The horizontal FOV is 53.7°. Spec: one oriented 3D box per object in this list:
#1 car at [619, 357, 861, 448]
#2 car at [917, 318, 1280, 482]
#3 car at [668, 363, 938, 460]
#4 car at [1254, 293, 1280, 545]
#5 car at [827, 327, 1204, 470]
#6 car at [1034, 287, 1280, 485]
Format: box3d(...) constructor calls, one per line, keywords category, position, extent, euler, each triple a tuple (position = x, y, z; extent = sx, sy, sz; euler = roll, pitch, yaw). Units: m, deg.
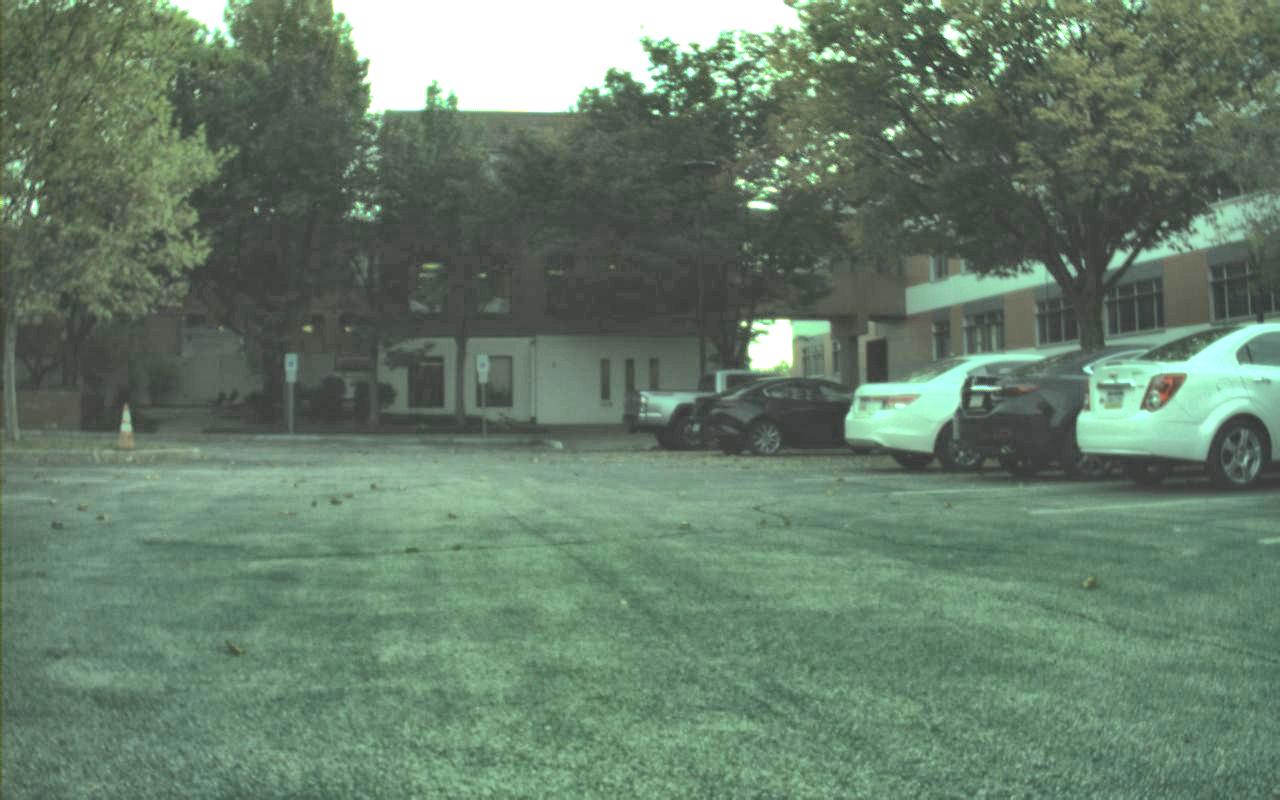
box3d(category="car", position=(2.197, 0.032, 28.079), extent=(5.015, 1.917, 2.096), euler=(0, 1, -13))
box3d(category="car", position=(5.429, -0.009, 13.165), extent=(4.454, 1.581, 1.926), euler=(0, 1, -10))
box3d(category="car", position=(3.004, 0.171, 23.126), extent=(4.608, 1.653, 1.986), euler=(0, 1, -16))
box3d(category="car", position=(7.048, 0.143, 8.111), extent=(4.410, 1.628, 1.947), euler=(0, 1, -10))
box3d(category="car", position=(4.838, -0.034, 15.559), extent=(4.622, 1.635, 1.965), euler=(0, 1, -8))
box3d(category="car", position=(6.043, -0.112, 10.807), extent=(4.441, 1.590, 1.914), euler=(0, 1, -10))
